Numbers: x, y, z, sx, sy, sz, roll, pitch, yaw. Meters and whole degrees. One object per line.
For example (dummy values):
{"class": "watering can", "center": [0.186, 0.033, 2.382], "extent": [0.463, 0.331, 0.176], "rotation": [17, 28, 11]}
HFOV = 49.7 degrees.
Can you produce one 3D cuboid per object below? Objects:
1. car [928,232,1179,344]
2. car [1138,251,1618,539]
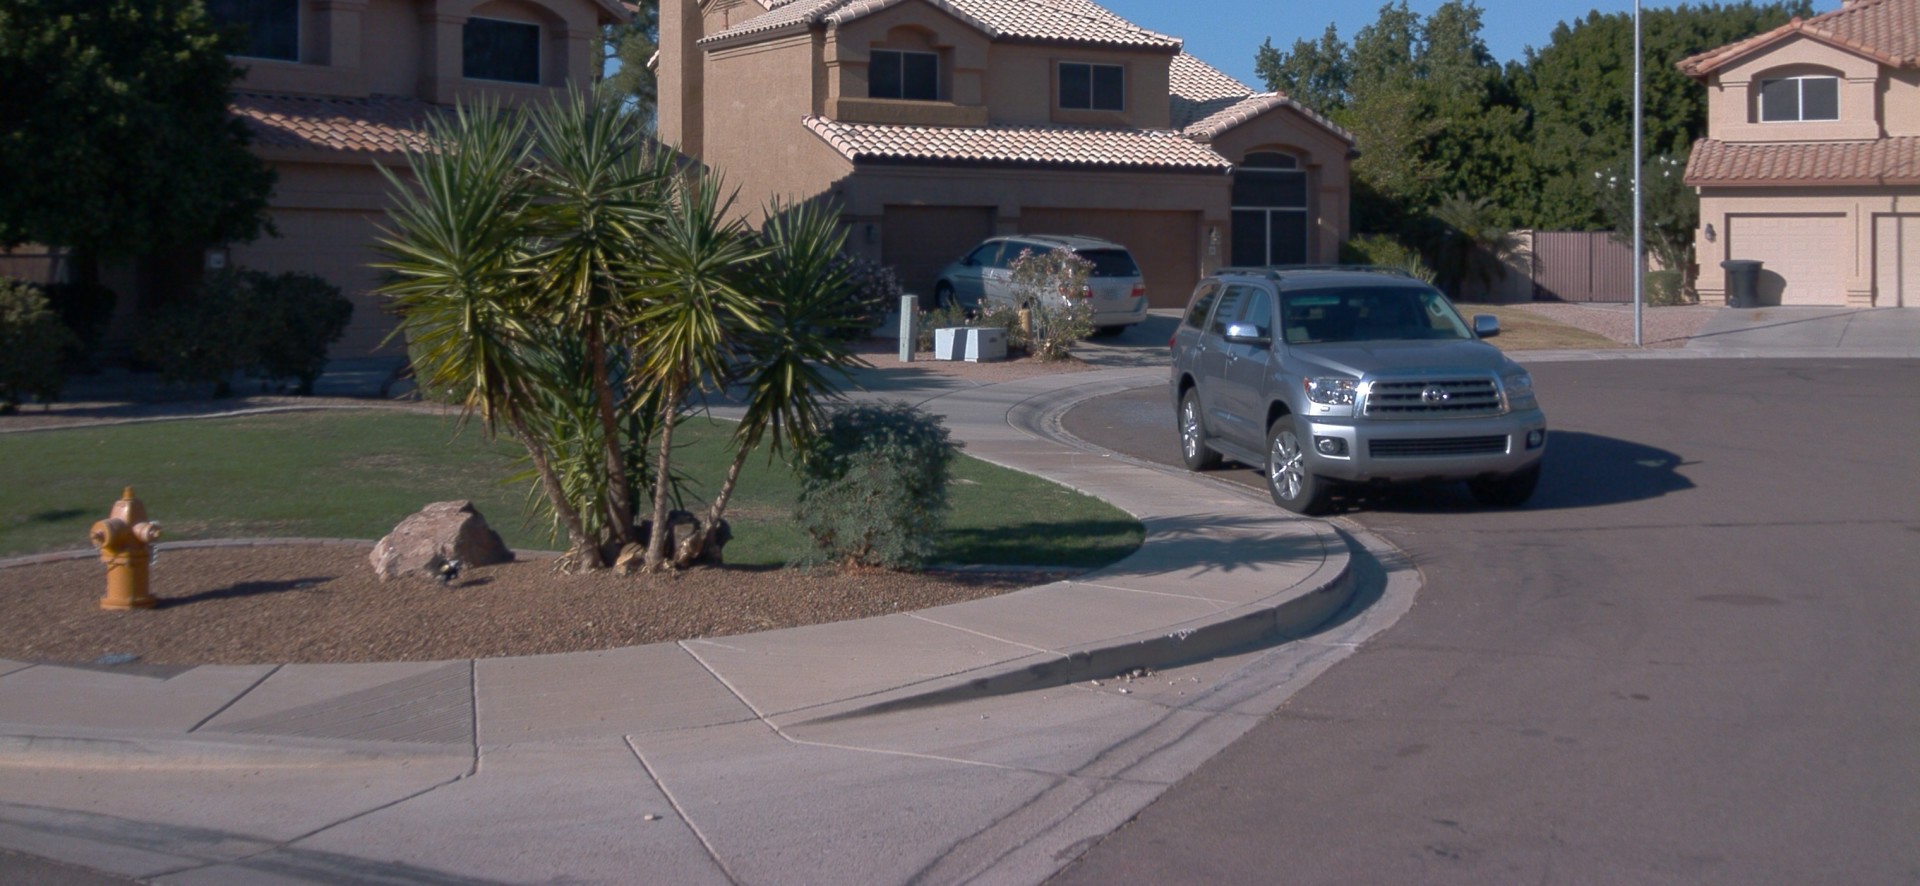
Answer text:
{"class": "car", "center": [1.643, -2.970, 38.652], "extent": [2.270, 1.892, 5.051], "rotation": [-3, 6, -31]}
{"class": "car", "center": [3.436, -0.639, 18.561], "extent": [2.559, 2.050, 5.726], "rotation": [-1, 6, -7]}
